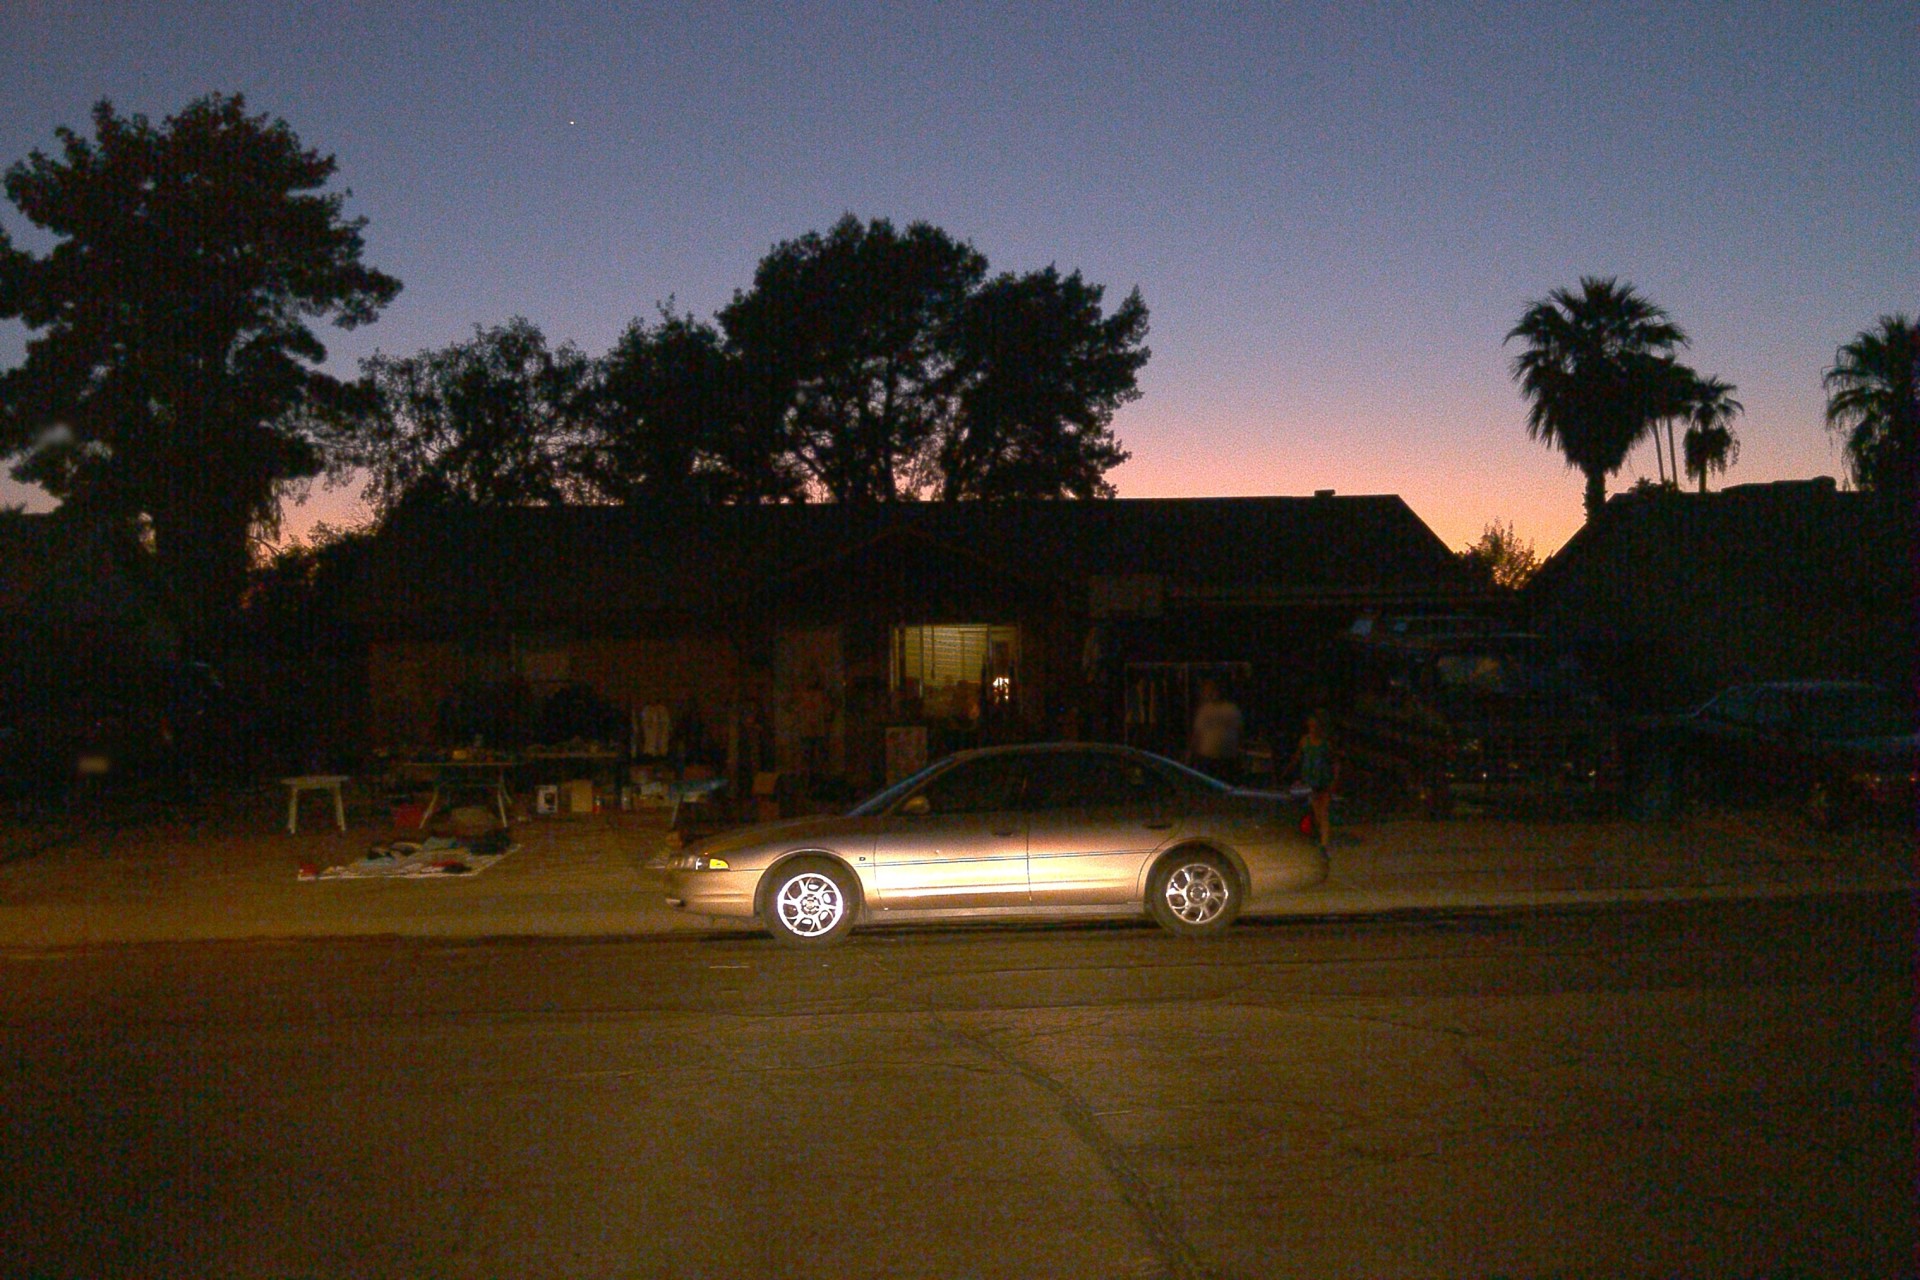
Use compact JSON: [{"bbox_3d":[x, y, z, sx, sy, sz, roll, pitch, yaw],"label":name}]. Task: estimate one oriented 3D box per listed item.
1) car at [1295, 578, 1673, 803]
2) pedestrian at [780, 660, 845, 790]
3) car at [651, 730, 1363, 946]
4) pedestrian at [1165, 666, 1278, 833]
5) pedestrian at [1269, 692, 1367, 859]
[{"bbox_3d":[5.842,0.572,24.137,2.592,2.310,5.422,0,-1,-5],"label":"car"},{"bbox_3d":[-1.885,1.084,26.660,0.812,1.640,0.647,0,-1,-2],"label":"pedestrian"},{"bbox_3d":[0.276,1.439,15.821,5.056,1.450,2.237,0,-1,-4],"label":"car"},{"bbox_3d":[2.713,1.118,21.612,0.831,1.690,0.835,1,-1,-30],"label":"pedestrian"},{"bbox_3d":[3.399,1.269,19.797,0.834,1.540,0.878,0,-1,4],"label":"pedestrian"}]
